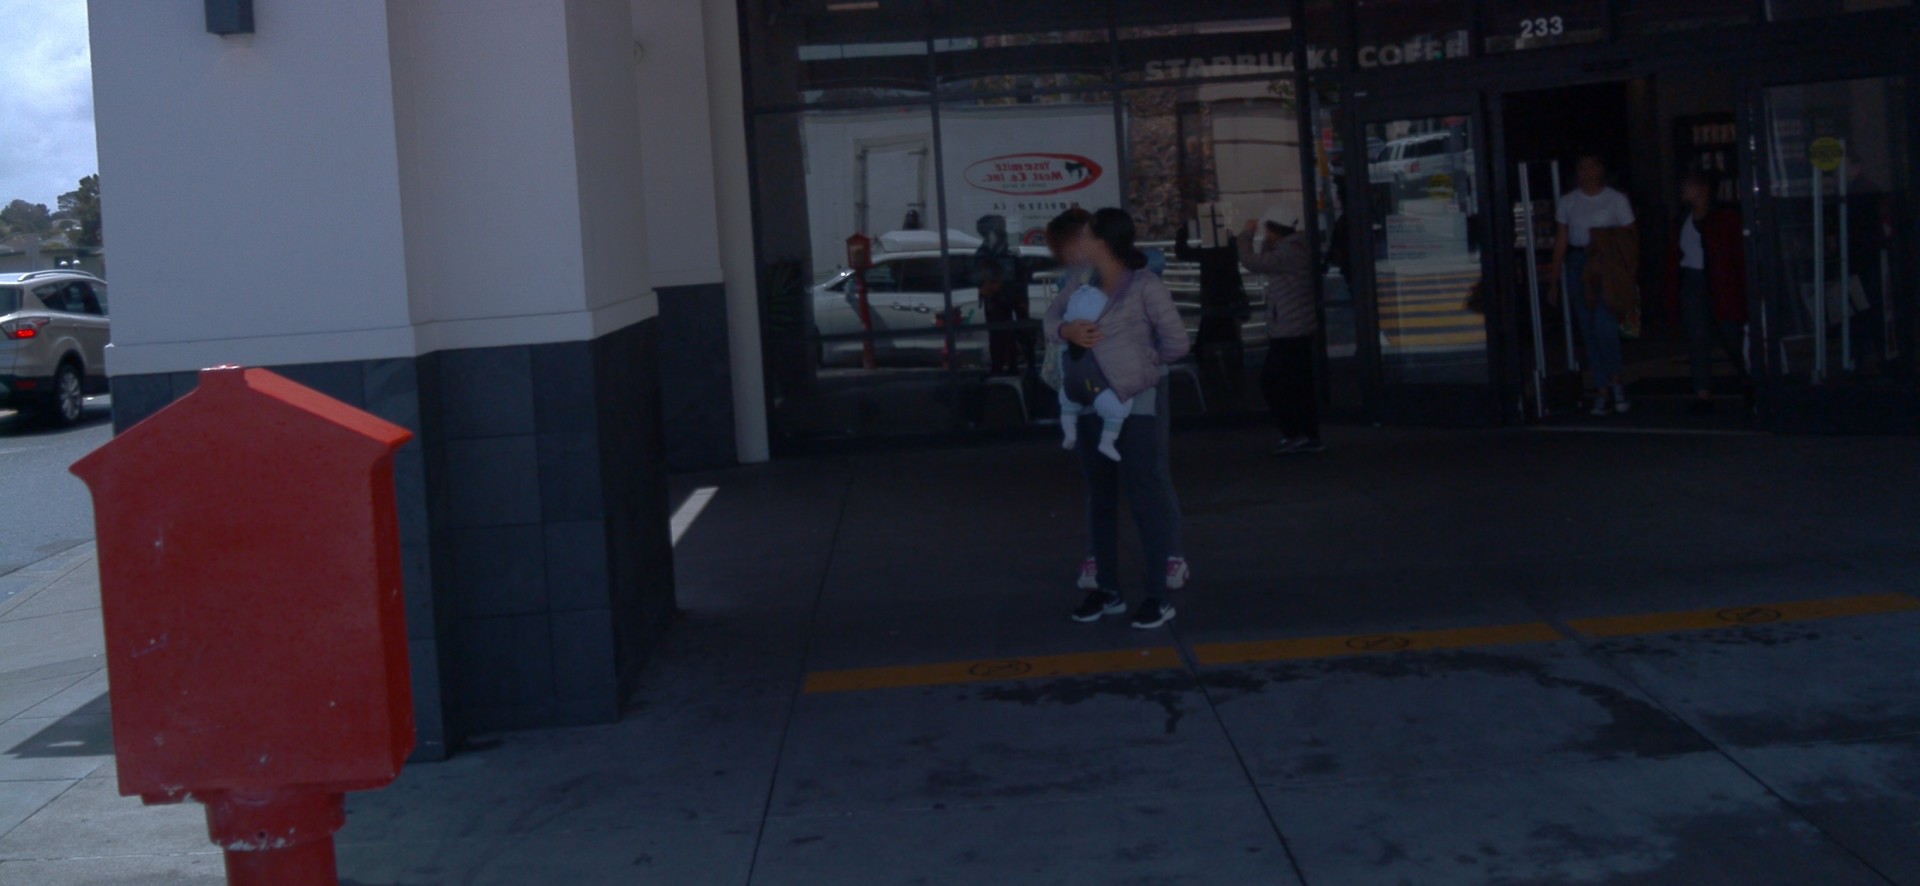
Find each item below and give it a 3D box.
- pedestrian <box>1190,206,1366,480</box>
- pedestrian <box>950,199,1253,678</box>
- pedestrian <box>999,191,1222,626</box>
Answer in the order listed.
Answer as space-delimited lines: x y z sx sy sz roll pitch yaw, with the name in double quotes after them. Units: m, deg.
1.891 -0.628 12.373 0.965 1.579 0.958 0 2 4 "pedestrian"
0.517 -0.069 7.826 1.072 1.699 1.067 0 2 1 "pedestrian"
0.595 -0.180 8.428 0.823 1.689 0.883 0 1 -2 "pedestrian"
